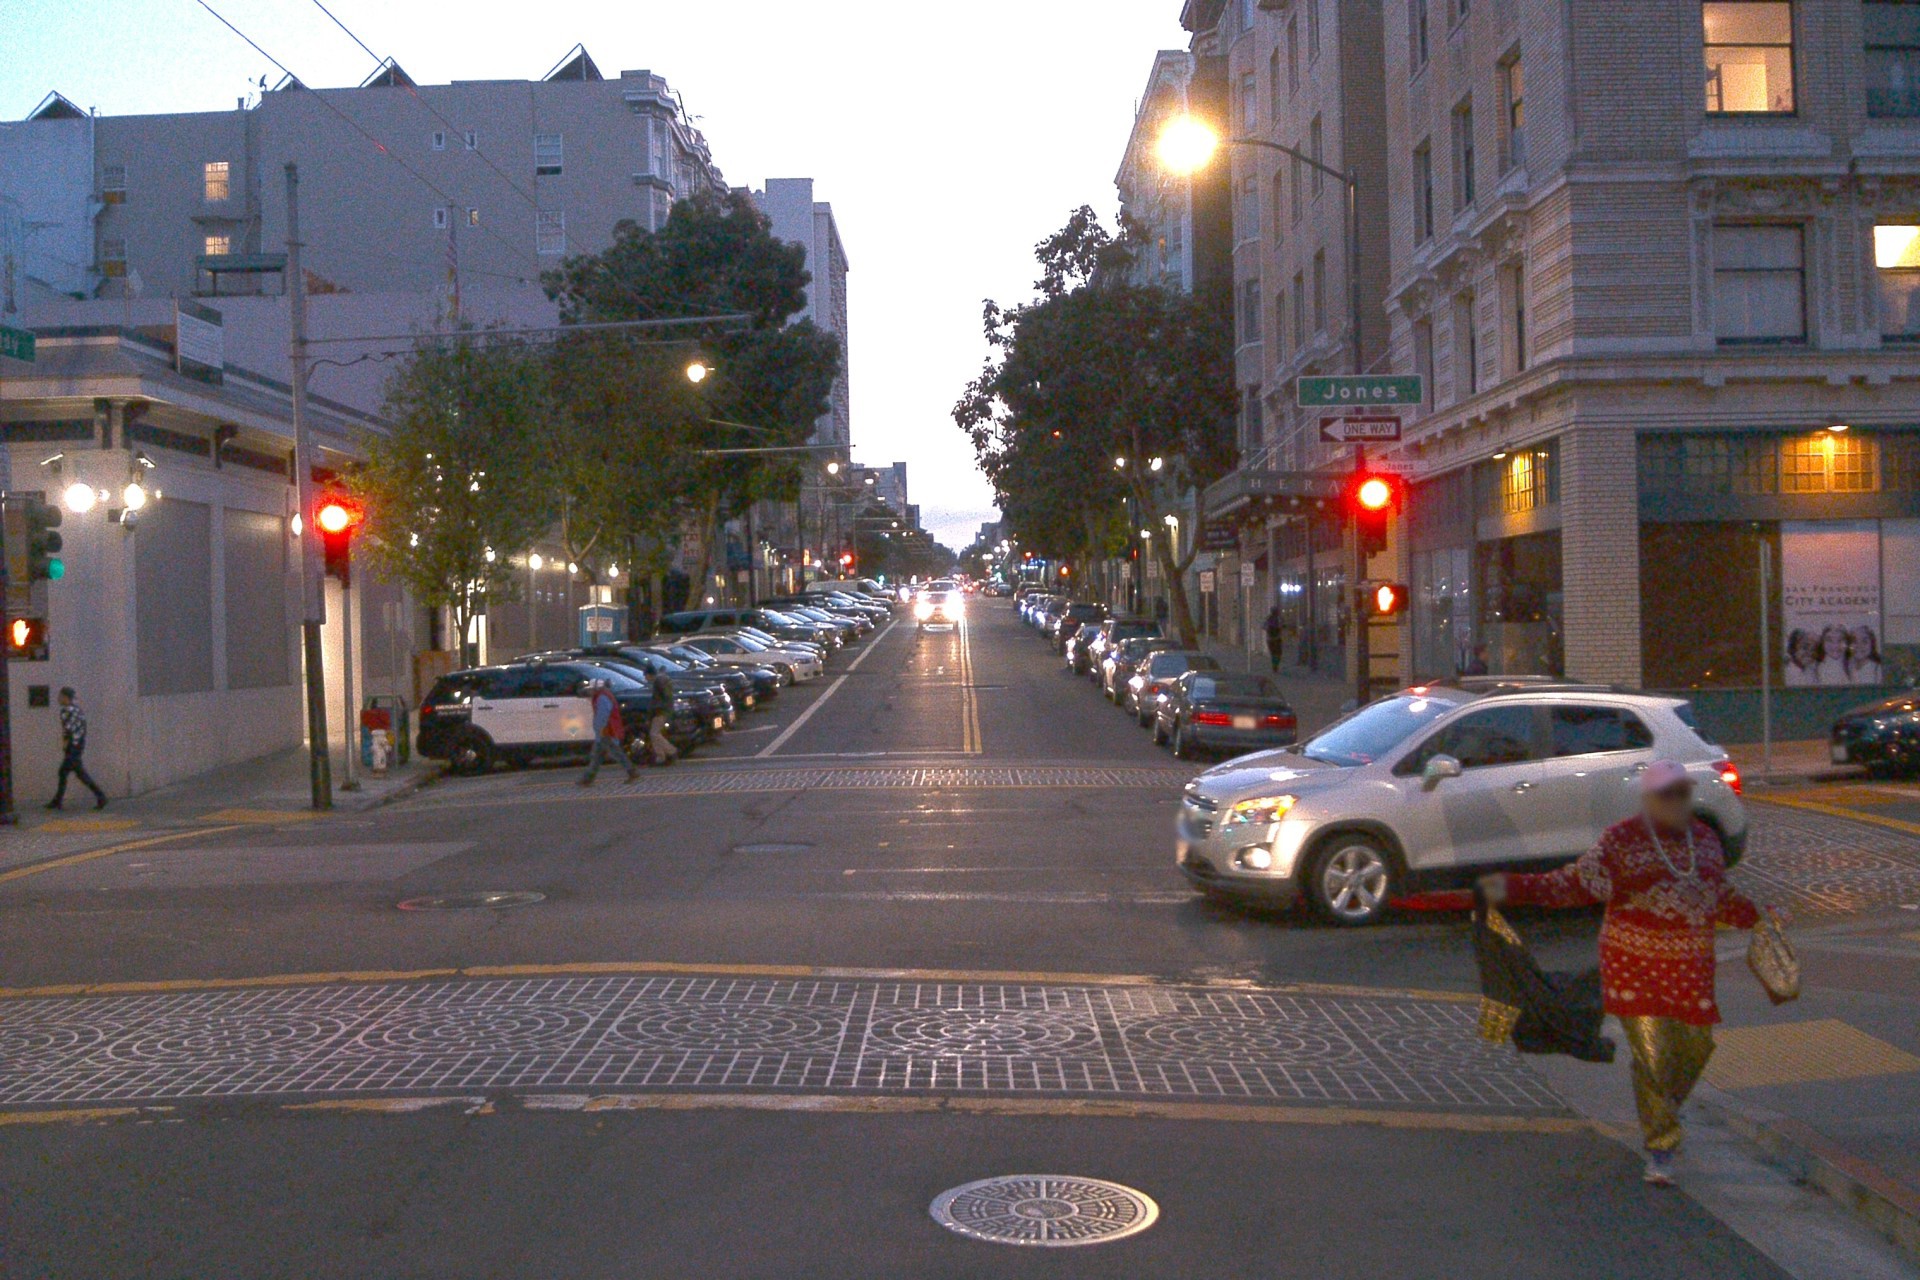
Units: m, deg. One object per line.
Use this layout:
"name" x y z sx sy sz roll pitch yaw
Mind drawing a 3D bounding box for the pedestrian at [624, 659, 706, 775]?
"pedestrian" -4.465 1.152 31.208 1.001 1.700 0.999 0 1 6

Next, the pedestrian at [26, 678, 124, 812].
"pedestrian" -12.232 1.443 28.438 1.077 1.820 0.593 0 1 6

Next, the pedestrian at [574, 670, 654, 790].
"pedestrian" -4.778 1.230 28.424 0.999 1.590 1.001 0 1 -5

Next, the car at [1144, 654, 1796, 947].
"car" 3.673 1.079 15.139 4.178 1.870 2.015 -1 1 -12

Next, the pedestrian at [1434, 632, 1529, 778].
"pedestrian" 7.029 0.867 27.740 1.098 1.930 0.689 0 1 -1
